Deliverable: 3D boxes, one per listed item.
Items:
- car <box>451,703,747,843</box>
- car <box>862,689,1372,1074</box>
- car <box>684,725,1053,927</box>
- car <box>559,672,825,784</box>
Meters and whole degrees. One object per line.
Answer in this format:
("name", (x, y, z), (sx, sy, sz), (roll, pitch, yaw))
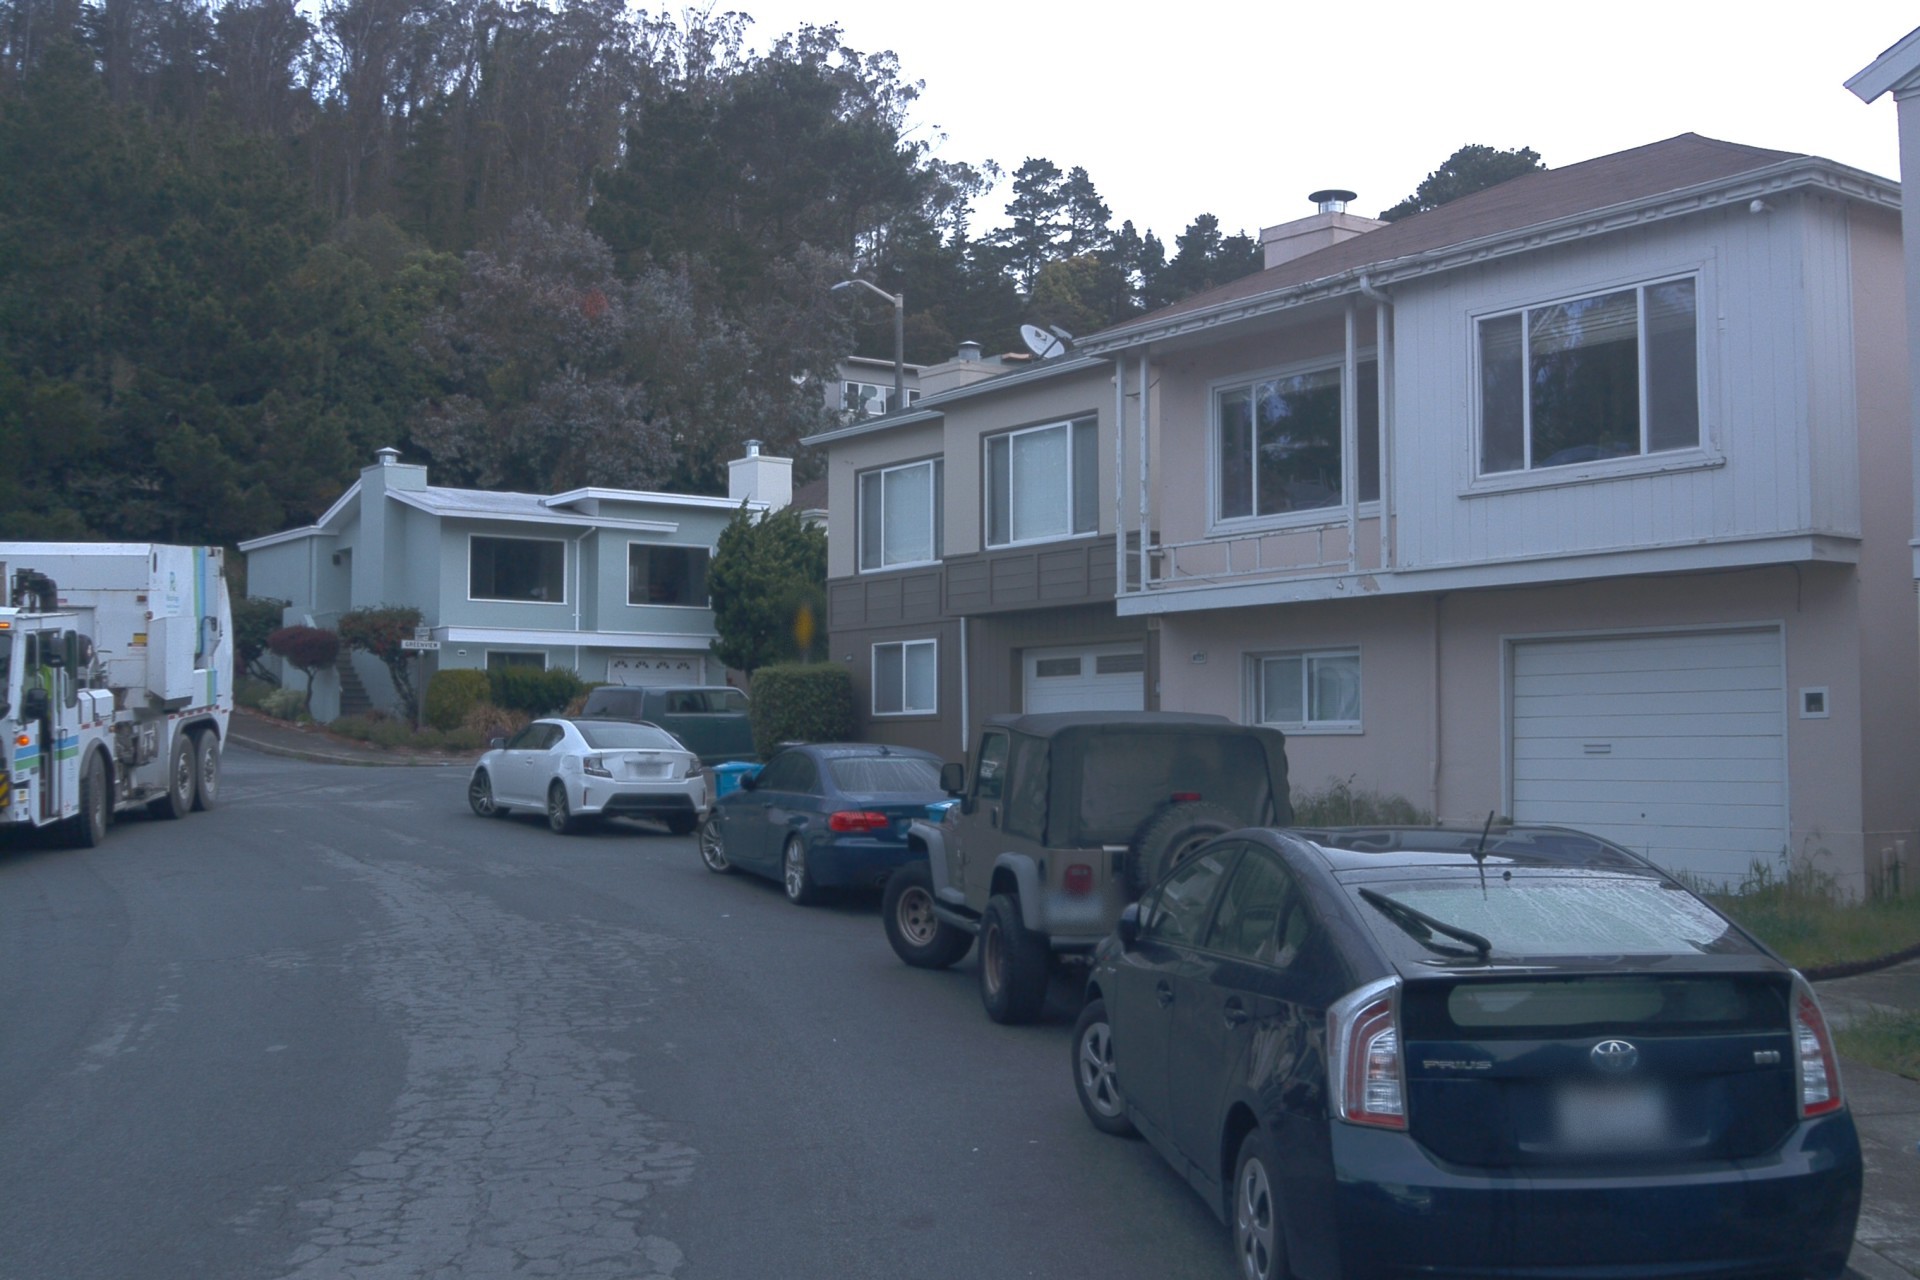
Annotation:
("car", (-4.798, 1.647, 26.979), (2.200, 1.540, 4.547), (0, 0, -33))
("car", (0.792, 1.340, 13.238), (2.125, 1.973, 4.023), (0, 0, -13))
("car", (-1.011, 1.609, 19.286), (2.036, 1.450, 4.652), (0, 0, -21))
("car", (-4.559, 1.460, 35.728), (2.030, 1.770, 4.270), (0, 0, 41))
